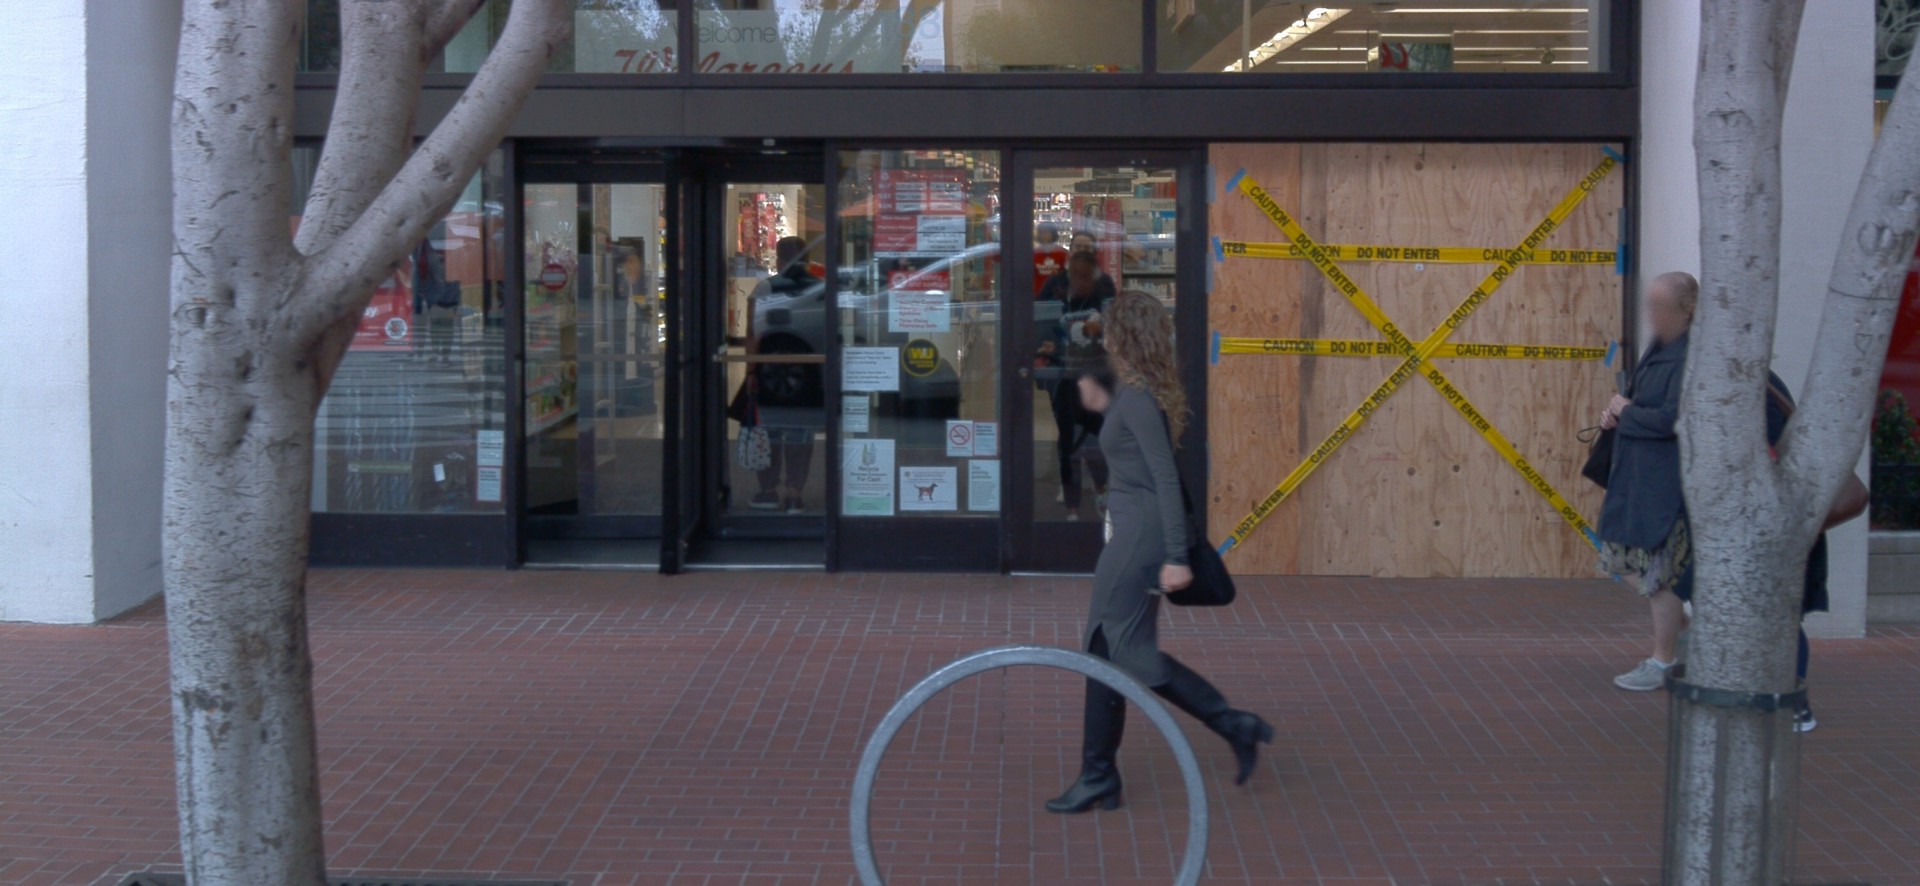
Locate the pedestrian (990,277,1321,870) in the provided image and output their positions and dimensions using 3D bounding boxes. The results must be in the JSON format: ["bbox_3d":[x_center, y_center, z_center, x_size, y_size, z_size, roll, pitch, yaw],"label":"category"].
[{"bbox_3d":[0.581,0.349,6.459,0.970,1.725,0.848,0,1,1],"label":"pedestrian"}]

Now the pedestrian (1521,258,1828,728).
[{"bbox_3d":[2.732,0.149,7.938,0.915,1.715,0.742,0,1,-2],"label":"pedestrian"}]
